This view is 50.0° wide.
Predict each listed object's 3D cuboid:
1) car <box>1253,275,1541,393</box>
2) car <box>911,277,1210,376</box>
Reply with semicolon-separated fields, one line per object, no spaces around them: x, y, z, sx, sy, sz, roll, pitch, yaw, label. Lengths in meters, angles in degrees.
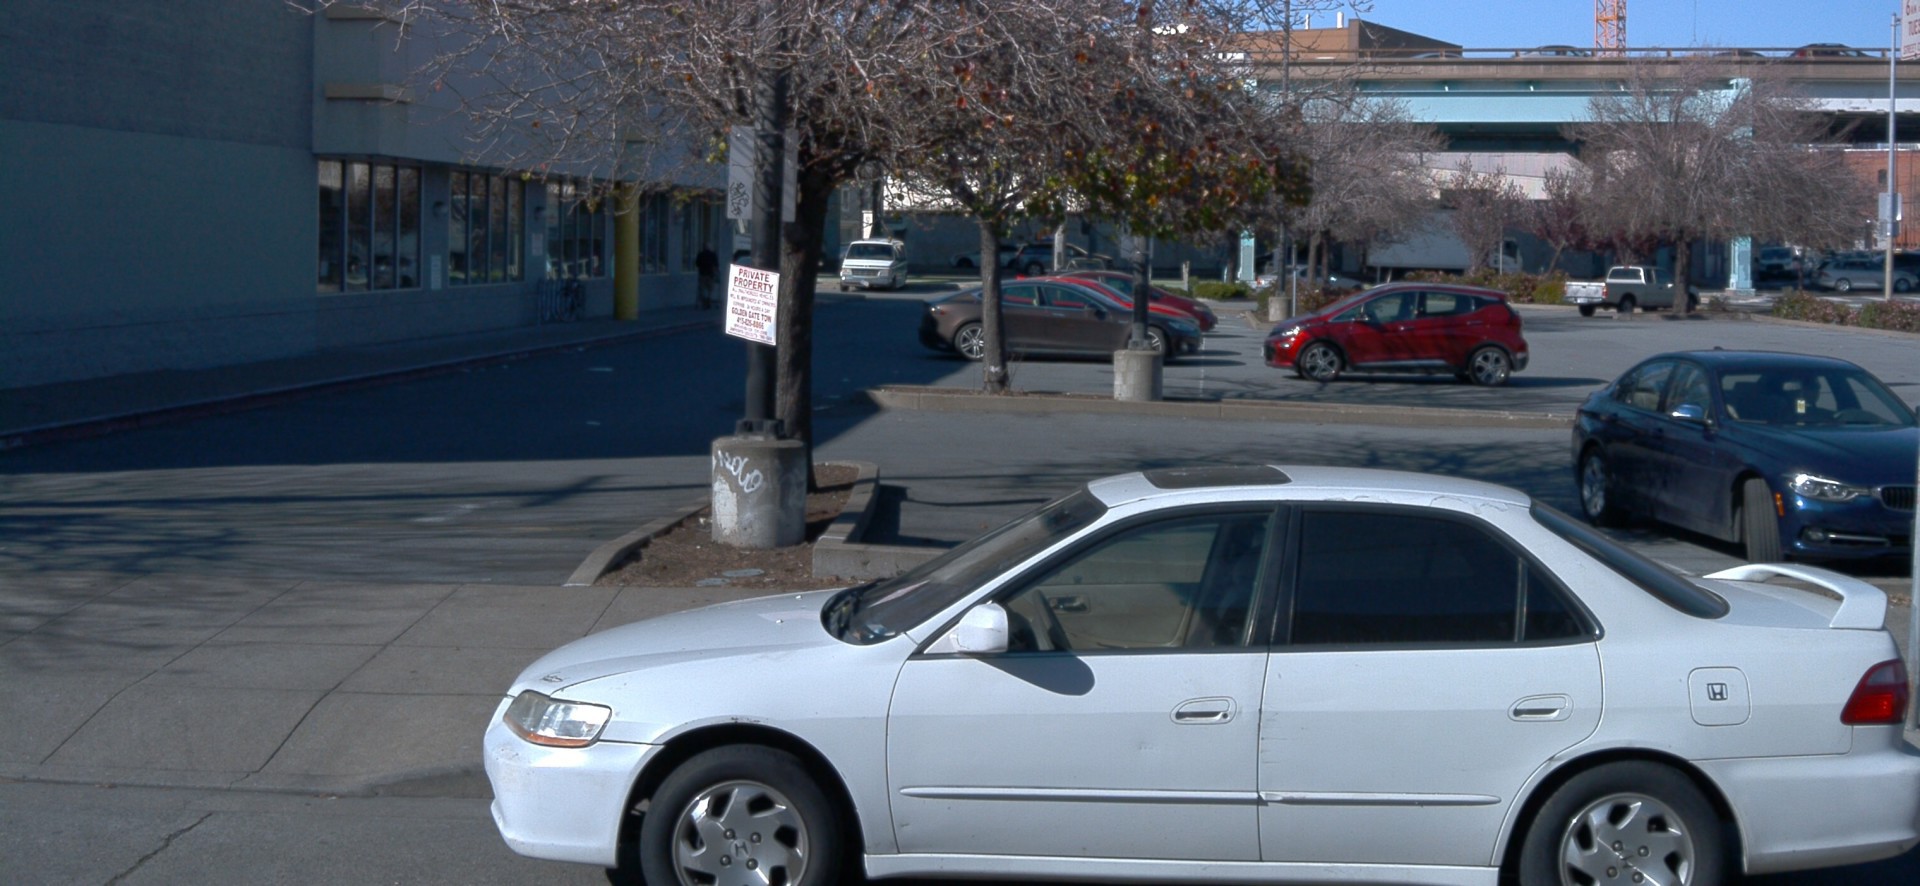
6.869;-1.762;32.679;4.156;1.695;2.038;1;4;2;car
1.778;-2.061;35.830;5.045;1.525;1.995;1;4;5;car
